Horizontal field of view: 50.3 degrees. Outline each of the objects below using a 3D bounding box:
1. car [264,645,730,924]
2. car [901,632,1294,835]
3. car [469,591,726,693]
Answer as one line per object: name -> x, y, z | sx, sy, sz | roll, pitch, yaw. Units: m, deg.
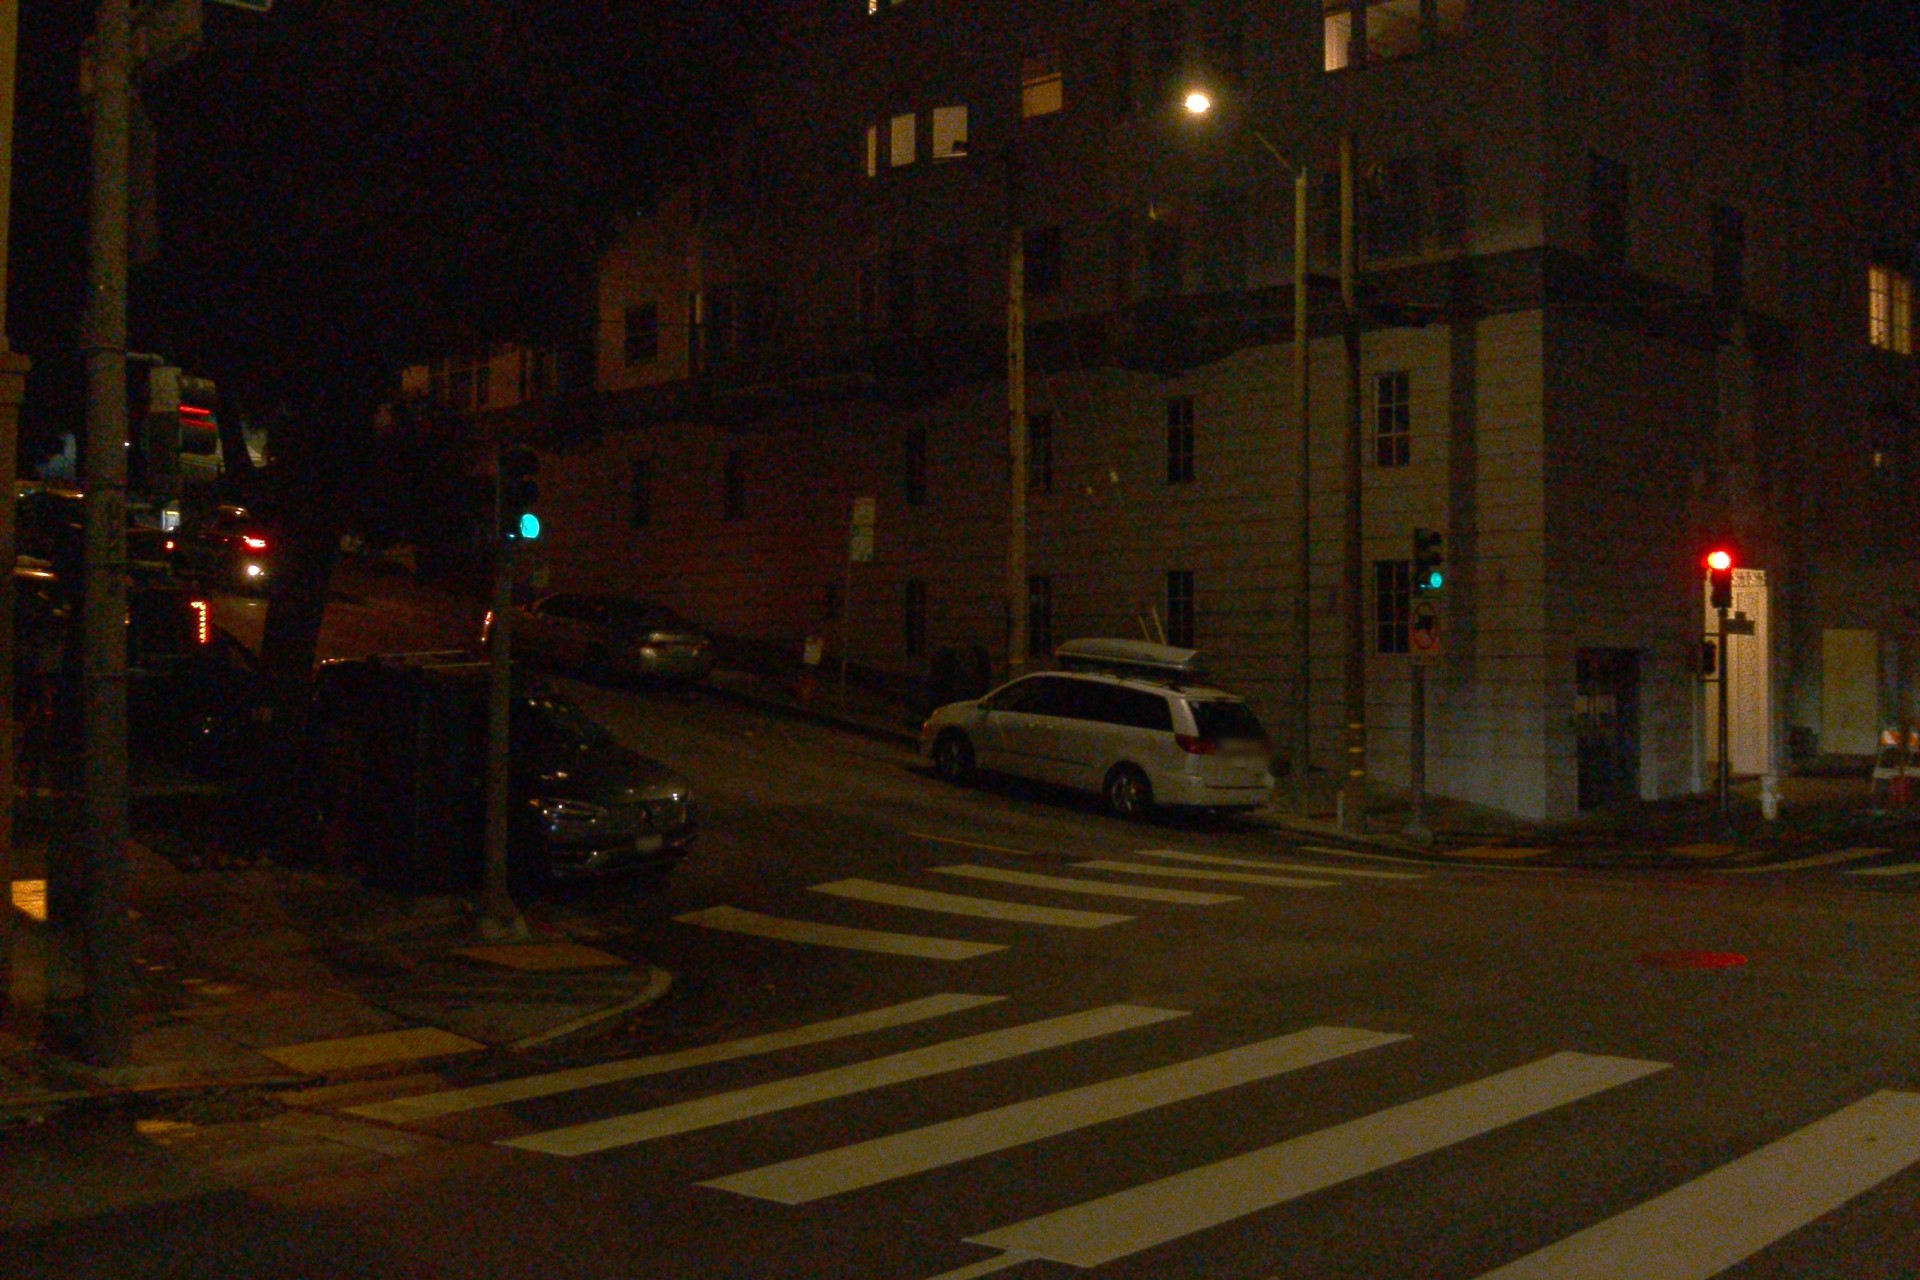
car -> -4.590, 1.230, 19.807 | 2.195, 2.290, 4.784 | 0, 1, -44
car -> 1.732, 1.123, 27.136 | 4.904, 2.388, 2.213 | 1, 1, 44
car -> -6.218, 0.008, 34.848 | 4.539, 1.626, 1.925 | 1, 1, 42
